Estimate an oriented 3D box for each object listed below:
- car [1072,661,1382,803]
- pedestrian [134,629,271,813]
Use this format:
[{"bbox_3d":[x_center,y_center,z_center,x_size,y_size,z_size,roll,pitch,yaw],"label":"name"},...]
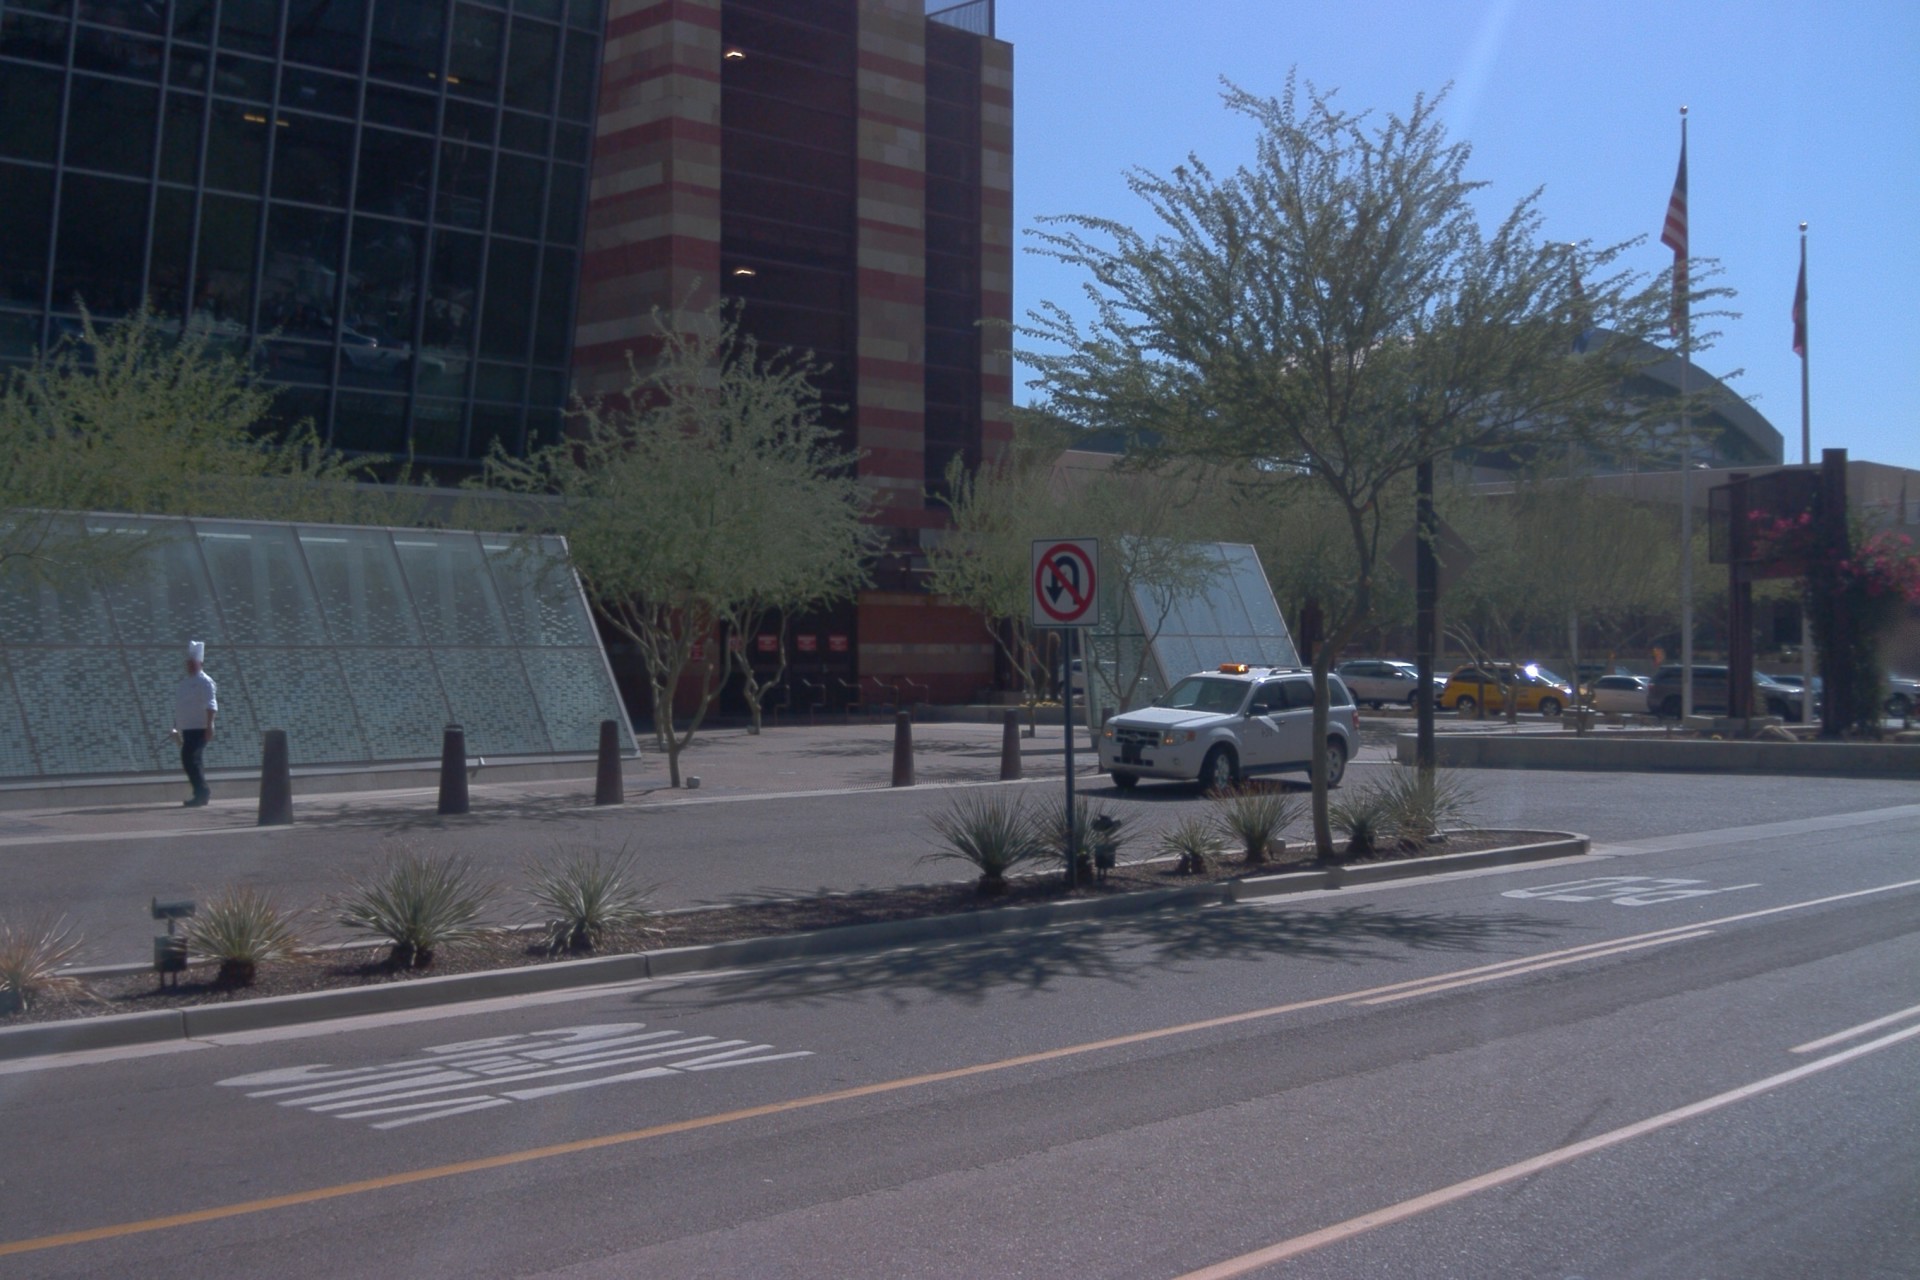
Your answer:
[{"bbox_3d":[3.902,1.249,30.115,2.067,1.840,4.530,1,0,45],"label":"car"},{"bbox_3d":[-8.884,0.927,24.581,1.038,2.080,1.122,1,0,41],"label":"pedestrian"}]
